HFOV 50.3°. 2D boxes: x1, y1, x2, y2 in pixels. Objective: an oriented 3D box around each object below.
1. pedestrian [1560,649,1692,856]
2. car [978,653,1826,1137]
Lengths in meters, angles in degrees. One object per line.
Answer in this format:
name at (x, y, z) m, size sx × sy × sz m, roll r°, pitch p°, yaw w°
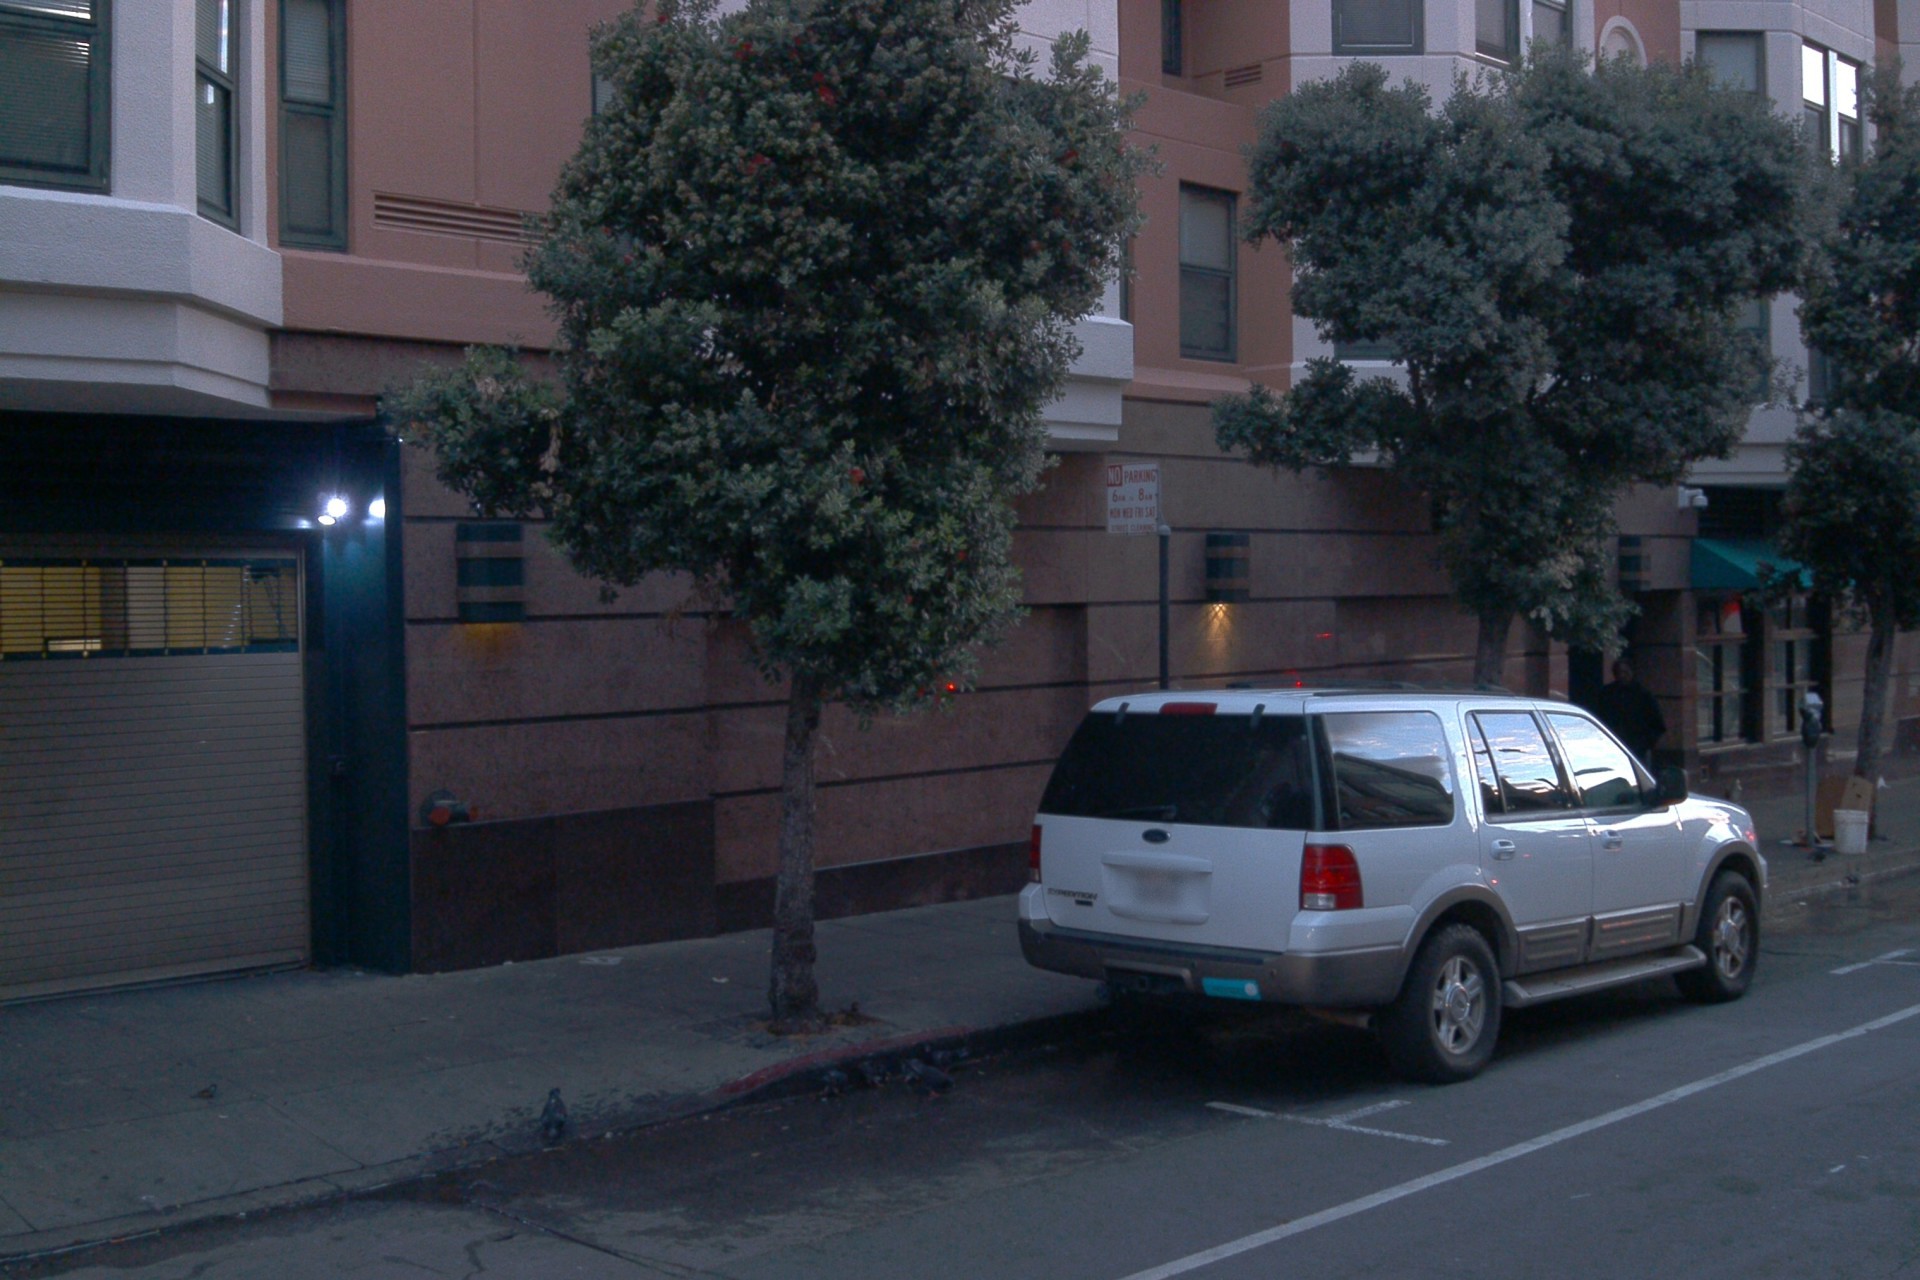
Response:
pedestrian at (6.267, 1.024, 19.247) m, size 0.828 × 1.860 × 1.059 m, roll 1°, pitch 1°, yaw 40°
car at (2.666, 1.113, 11.382) m, size 2.194 × 1.990 × 5.086 m, roll 1°, pitch 1°, yaw 45°
